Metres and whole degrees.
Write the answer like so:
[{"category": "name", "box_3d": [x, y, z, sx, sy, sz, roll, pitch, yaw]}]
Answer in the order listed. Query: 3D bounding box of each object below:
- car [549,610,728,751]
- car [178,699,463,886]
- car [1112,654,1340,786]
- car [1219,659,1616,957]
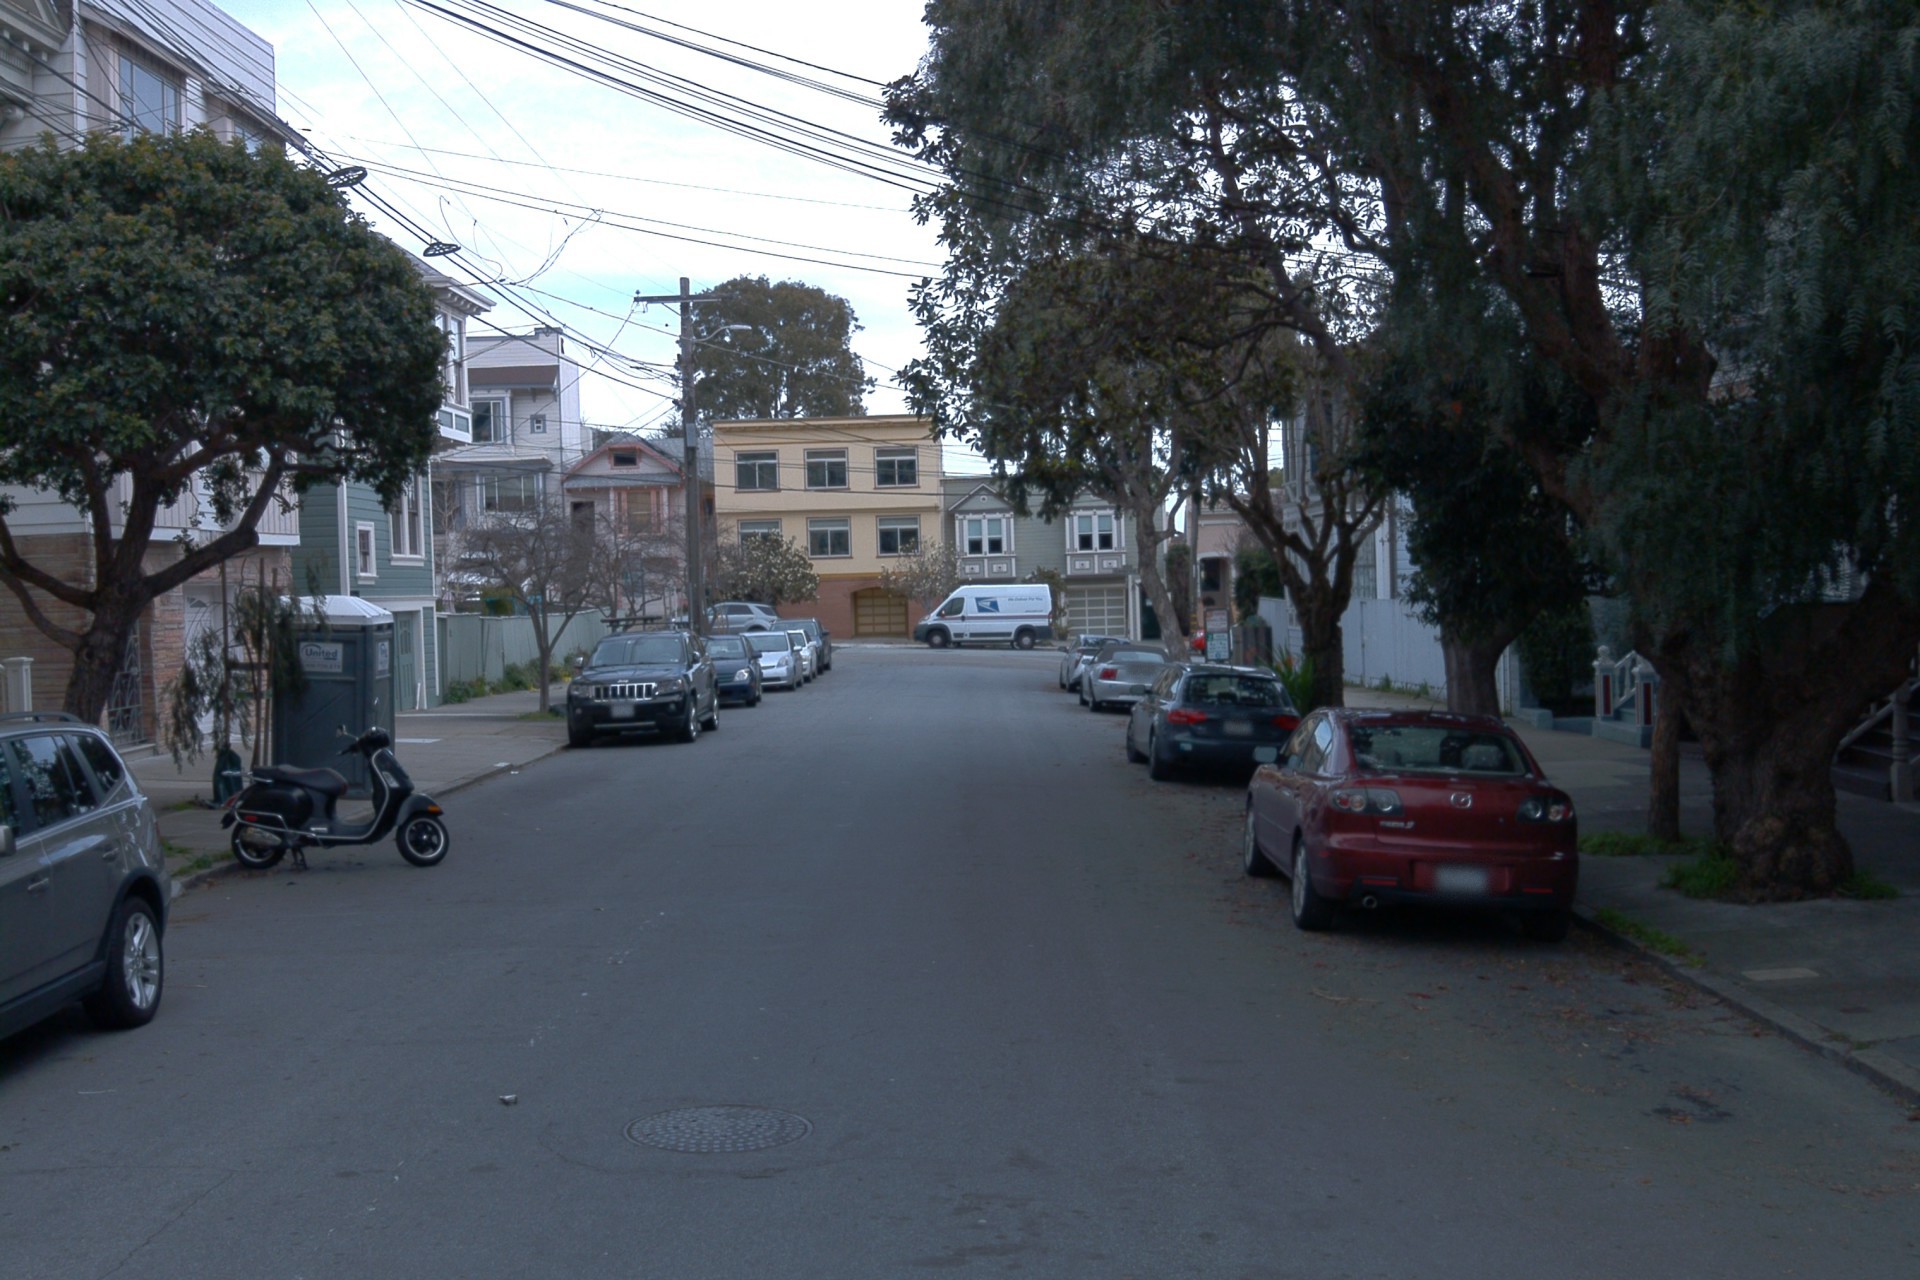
[{"category": "car", "box_3d": [-5.032, 0.570, 33.028, 2.184, 2.070, 4.718, 1, 1, -1]}, {"category": "car", "box_3d": [-5.188, 1.227, 16.868, 2.043, 1.431, 0.920, 1, 1, -1]}, {"category": "car", "box_3d": [3.249, 0.941, 26.277, 2.169, 1.400, 4.838, 1, 1, -1]}, {"category": "car", "box_3d": [3.109, 1.053, 15.057, 1.960, 1.710, 4.635, 1, 1, 2]}]
